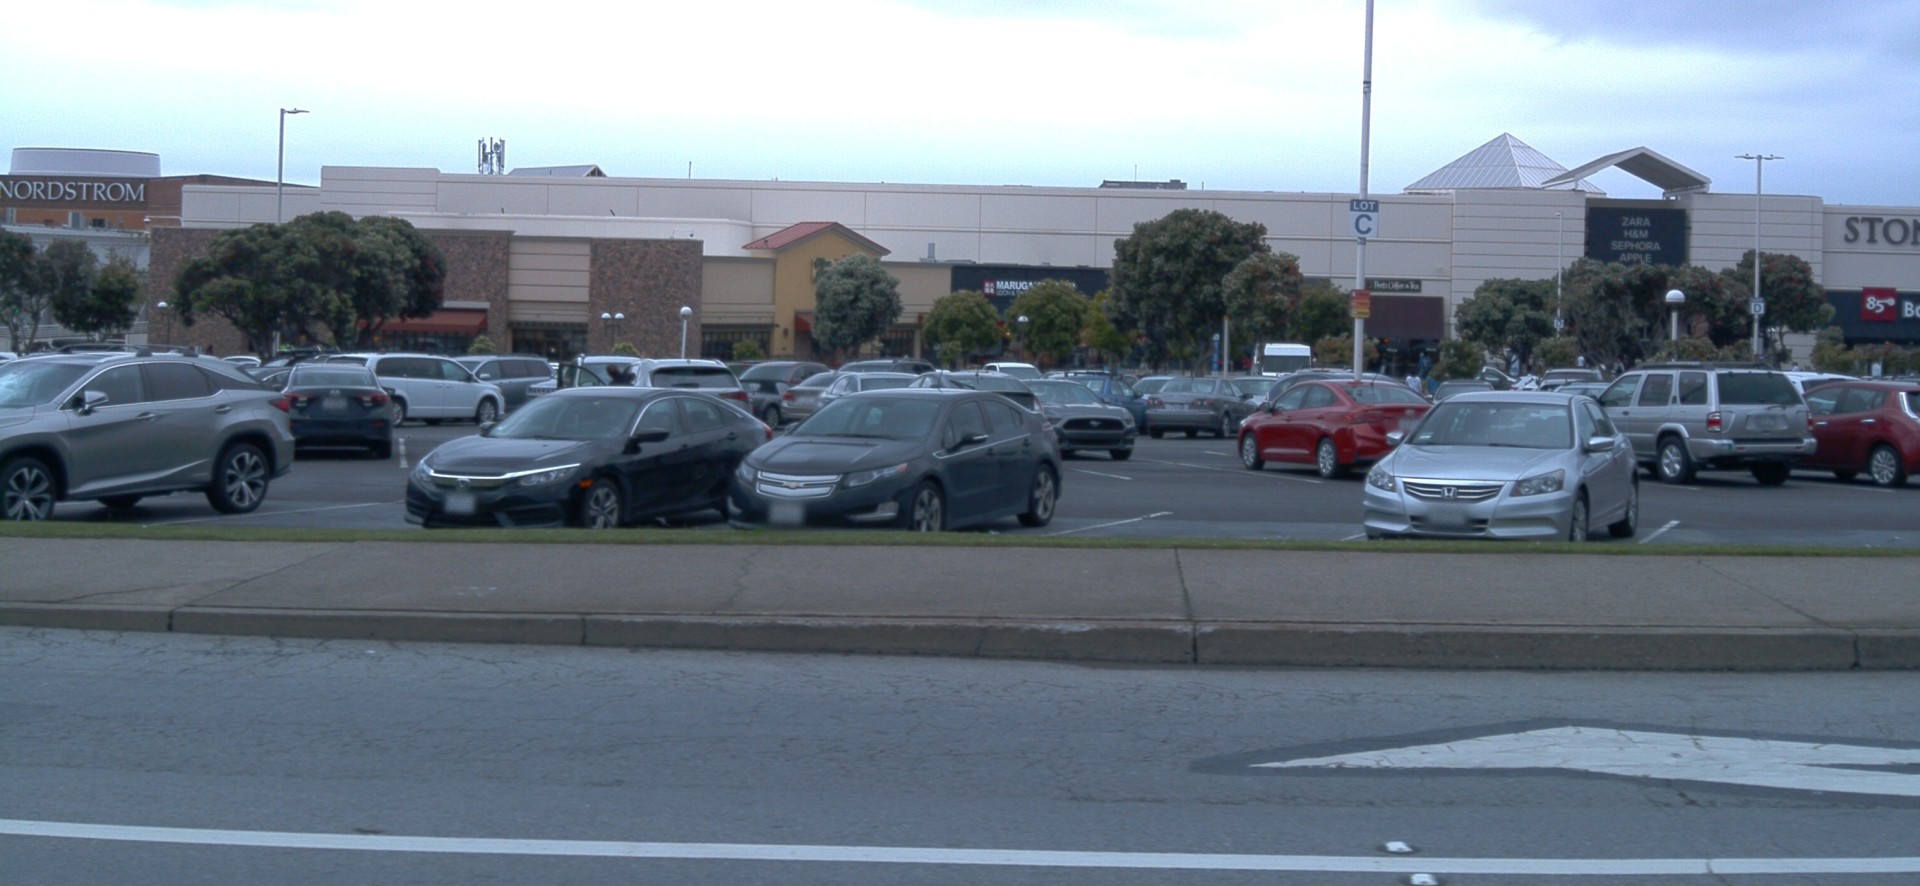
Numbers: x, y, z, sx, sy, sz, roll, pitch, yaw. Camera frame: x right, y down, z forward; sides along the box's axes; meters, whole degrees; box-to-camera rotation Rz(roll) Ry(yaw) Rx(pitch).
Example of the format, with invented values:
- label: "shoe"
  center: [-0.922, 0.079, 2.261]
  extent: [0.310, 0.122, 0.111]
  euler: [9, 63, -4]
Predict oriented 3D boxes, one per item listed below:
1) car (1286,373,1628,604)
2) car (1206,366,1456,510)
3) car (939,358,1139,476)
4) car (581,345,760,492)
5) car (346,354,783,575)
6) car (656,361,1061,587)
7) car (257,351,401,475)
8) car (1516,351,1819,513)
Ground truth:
- label: "car"
  center: [4.899, 0.289, 19.667]
  extent: [2.097, 1.554, 4.922]
  euler: [2, 6, 27]
- label: "car"
  center: [5.450, -0.158, 30.792]
  extent: [1.948, 1.694, 4.372]
  euler: [-1, 5, -16]
- label: "car"
  center: [1.306, -0.521, 36.220]
  extent: [2.066, 1.661, 4.309]
  euler: [-1, 5, -20]
- label: "car"
  center: [-4.542, -0.462, 31.639]
  extent: [1.969, 1.834, 4.487]
  euler: [-1, 5, -18]
- label: "car"
  center: [-3.707, 0.081, 20.131]
  extent: [2.031, 1.624, 4.417]
  euler: [2, 5, 24]
- label: "car"
  center: [-0.828, 0.169, 19.977]
  extent: [2.118, 1.624, 4.483]
  euler: [2, 5, 24]
- label: "car"
  center: [-10.245, -0.560, 33.146]
  extent: [2.032, 1.564, 4.495]
  euler: [-1, 5, -20]
- label: "car"
  center: [10.392, -0.261, 30.609]
  extent: [2.106, 1.933, 4.567]
  euler: [-1, 5, -15]
